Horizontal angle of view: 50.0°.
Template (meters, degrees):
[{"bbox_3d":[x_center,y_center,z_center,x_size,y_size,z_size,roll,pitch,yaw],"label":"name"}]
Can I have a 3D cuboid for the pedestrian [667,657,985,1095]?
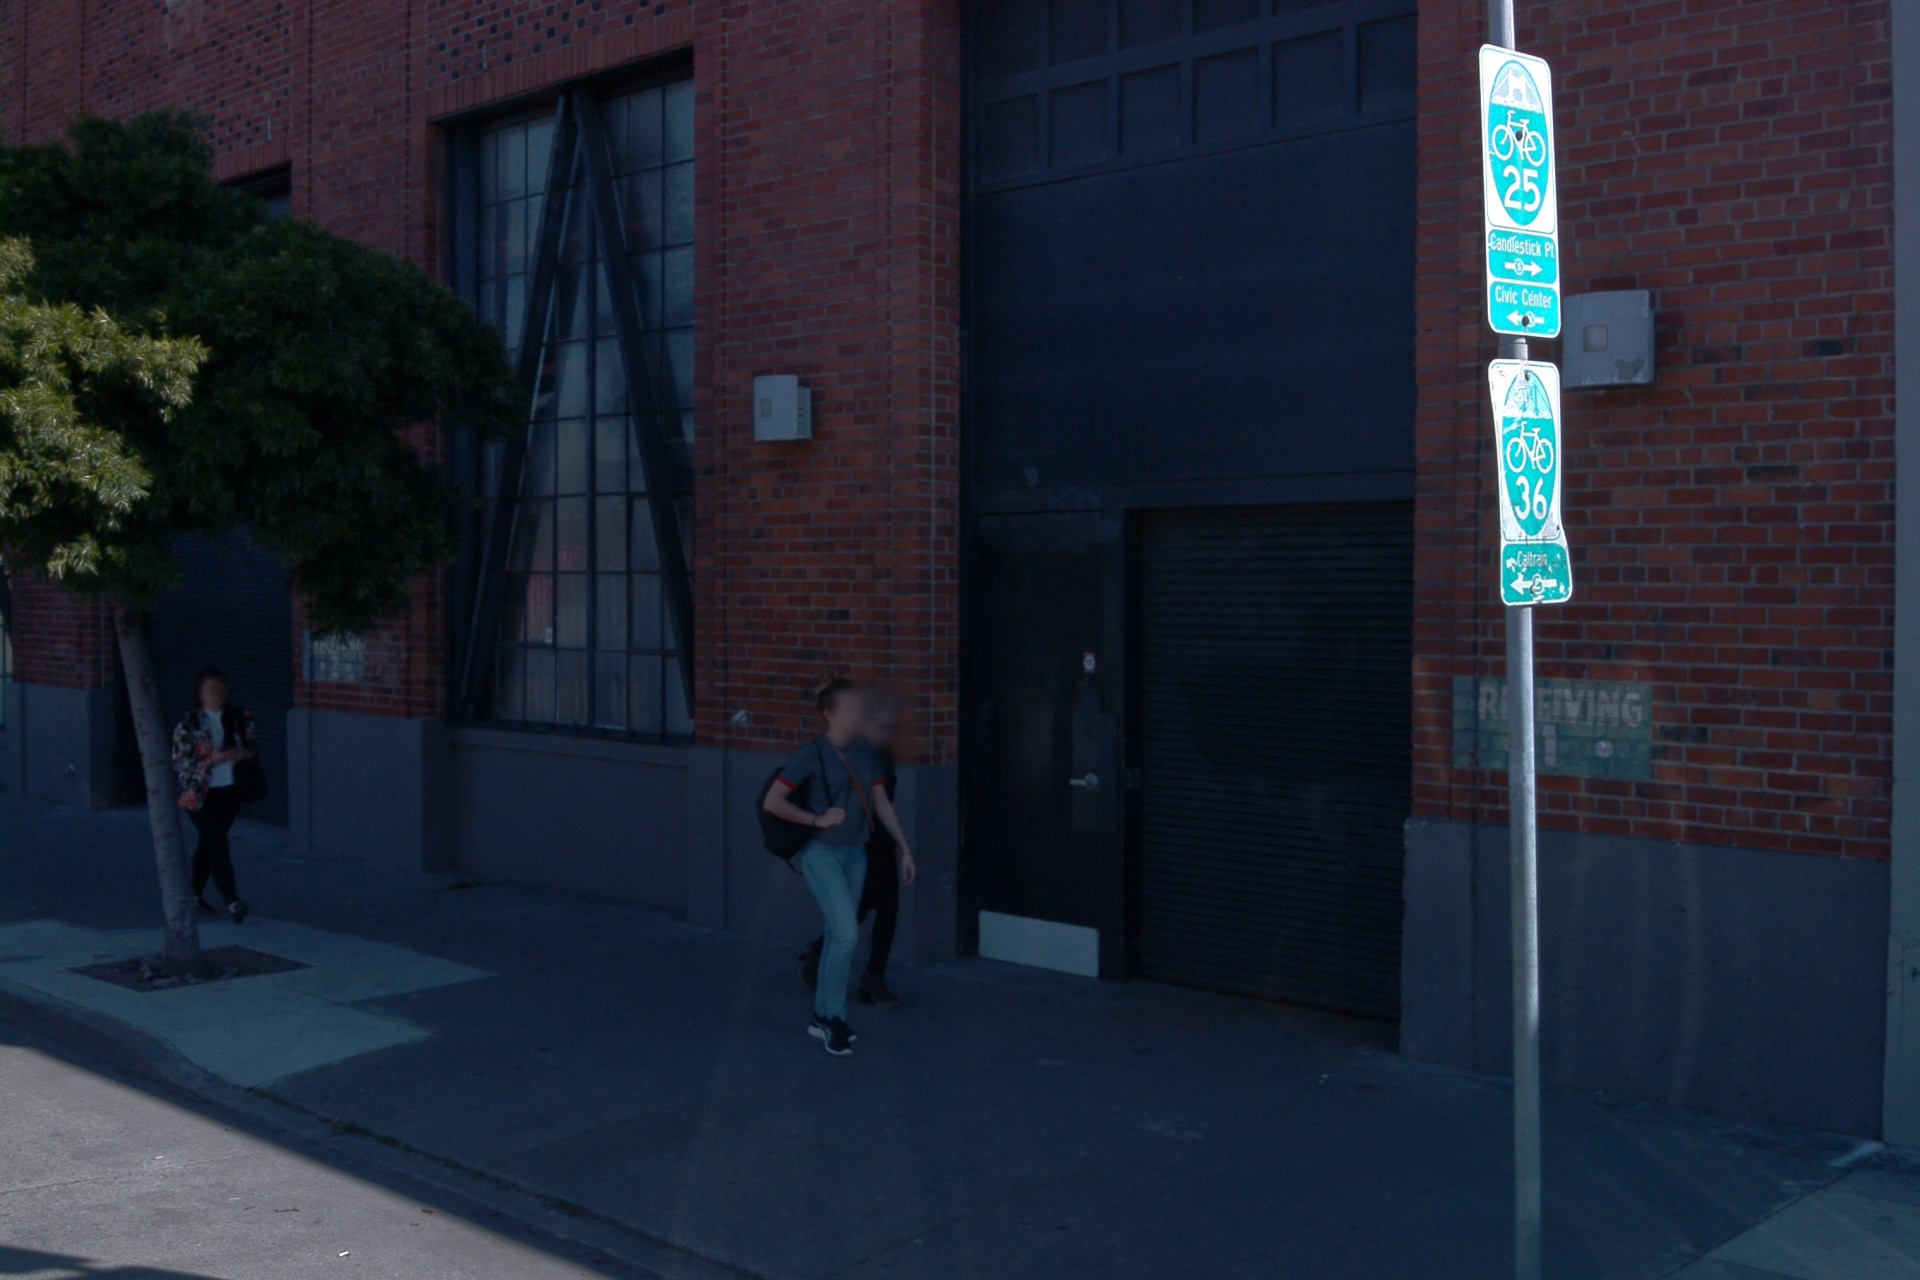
[{"bbox_3d":[-0.606,0.975,9.152,0.857,1.770,1.155,0,1,-43],"label":"pedestrian"}]

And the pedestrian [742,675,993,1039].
[{"bbox_3d":[-0.459,1.014,10.112,0.810,1.650,0.924,0,1,-43],"label":"pedestrian"}]

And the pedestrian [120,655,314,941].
[{"bbox_3d":[-4.591,0.937,12.707,0.957,1.660,0.780,1,1,45],"label":"pedestrian"}]
